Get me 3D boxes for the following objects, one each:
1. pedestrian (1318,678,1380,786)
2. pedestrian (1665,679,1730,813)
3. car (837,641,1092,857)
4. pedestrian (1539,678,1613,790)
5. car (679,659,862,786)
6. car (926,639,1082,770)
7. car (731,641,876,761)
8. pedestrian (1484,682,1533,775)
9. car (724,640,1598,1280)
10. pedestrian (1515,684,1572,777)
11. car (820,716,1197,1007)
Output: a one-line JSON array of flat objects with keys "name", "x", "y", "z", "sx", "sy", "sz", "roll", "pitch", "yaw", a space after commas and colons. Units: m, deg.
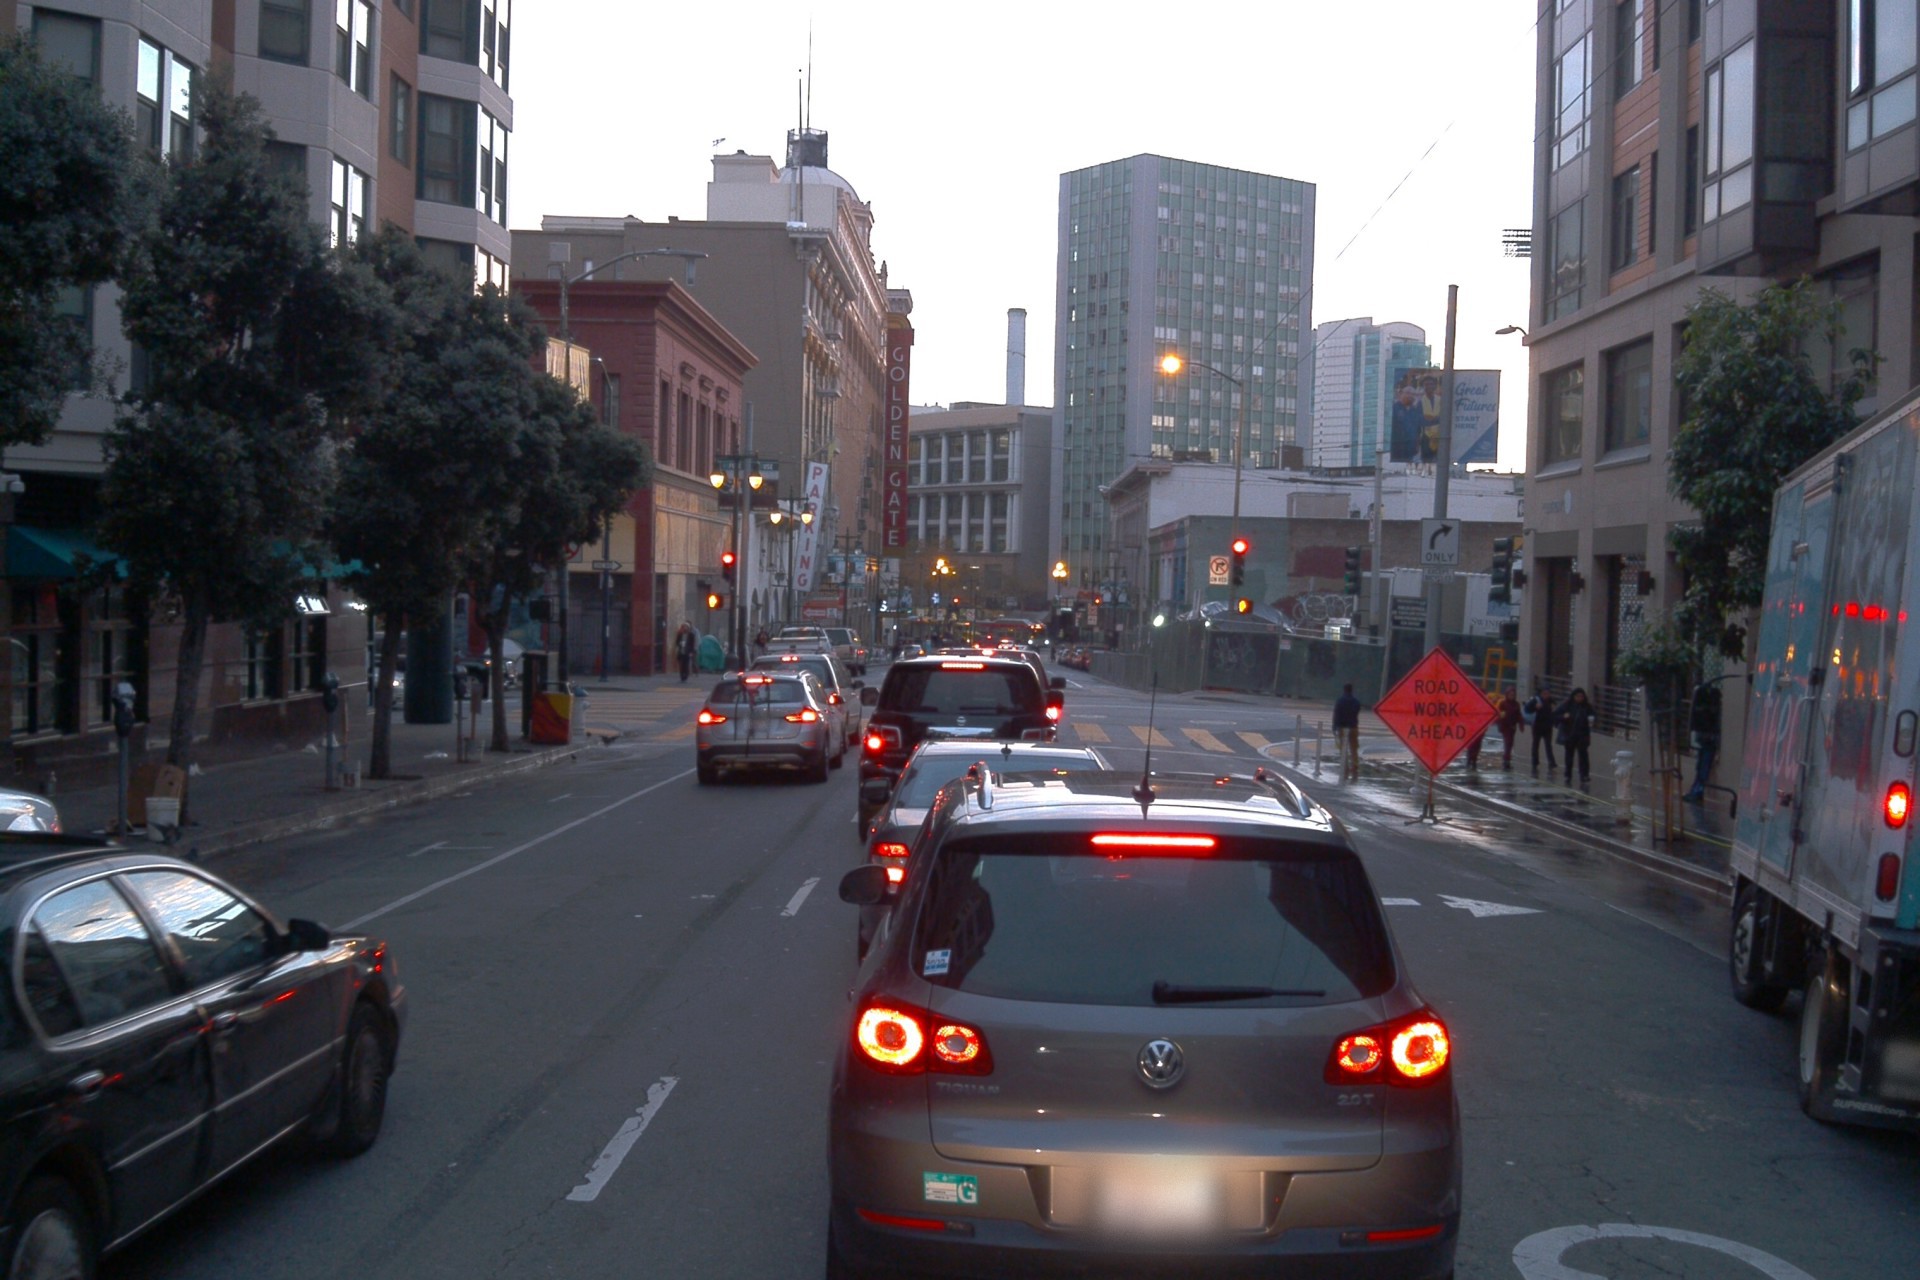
[{"name": "pedestrian", "x": 6.687, "y": 1.578, "z": 35.069, "sx": 0.777, "sy": 1.790, "sz": 0.924, "roll": 1, "pitch": 1, "yaw": -5}, {"name": "pedestrian", "x": 10.761, "y": 1.535, "z": 29.715, "sx": 0.659, "sy": 1.890, "sz": 0.755, "roll": 1, "pitch": 1, "yaw": 4}, {"name": "car", "x": 0.036, "y": 1.029, "z": 21.904, "sx": 2.368, "sy": 1.940, "sz": 5.339, "roll": 1, "pitch": 1, "yaw": 0}, {"name": "pedestrian", "x": 10.090, "y": 1.531, "z": 33.378, "sx": 0.879, "sy": 1.760, "sz": 0.905, "roll": 1, "pitch": 1, "yaw": 0}, {"name": "car", "x": -2.614, "y": 1.110, "z": 29.104, "sx": 2.110, "sy": 1.572, "sz": 4.118, "roll": 1, "pitch": 1, "yaw": 1}, {"name": "car", "x": 0.622, "y": 0.856, "z": 29.391, "sx": 2.036, "sy": 1.650, "sz": 4.678, "roll": 1, "pitch": 1, "yaw": 1}, {"name": "car", "x": -2.657, "y": 0.997, "z": 35.547, "sx": 1.896, "sy": 1.880, "sz": 4.462, "roll": 1, "pitch": 1, "yaw": 4}, {"name": "pedestrian", "x": 9.854, "y": 1.585, "z": 36.576, "sx": 0.622, "sy": 1.610, "sz": 0.759, "roll": 1, "pitch": 1, "yaw": -1}, {"name": "car", "x": 0.546, "y": 1.062, "z": 7.023, "sx": 2.109, "sy": 2.050, "sz": 3.981, "roll": 1, "pitch": 1, "yaw": 2}, {"name": "pedestrian", "x": 10.517, "y": 1.622, "z": 36.722, "sx": 0.721, "sy": 1.610, "sz": 0.846, "roll": 1, "pitch": 1, "yaw": -1}, {"name": "car", "x": 0.292, "y": 1.324, "z": 13.592, "sx": 2.089, "sy": 1.400, "sz": 4.279, "roll": 1, "pitch": 1, "yaw": 1}]
